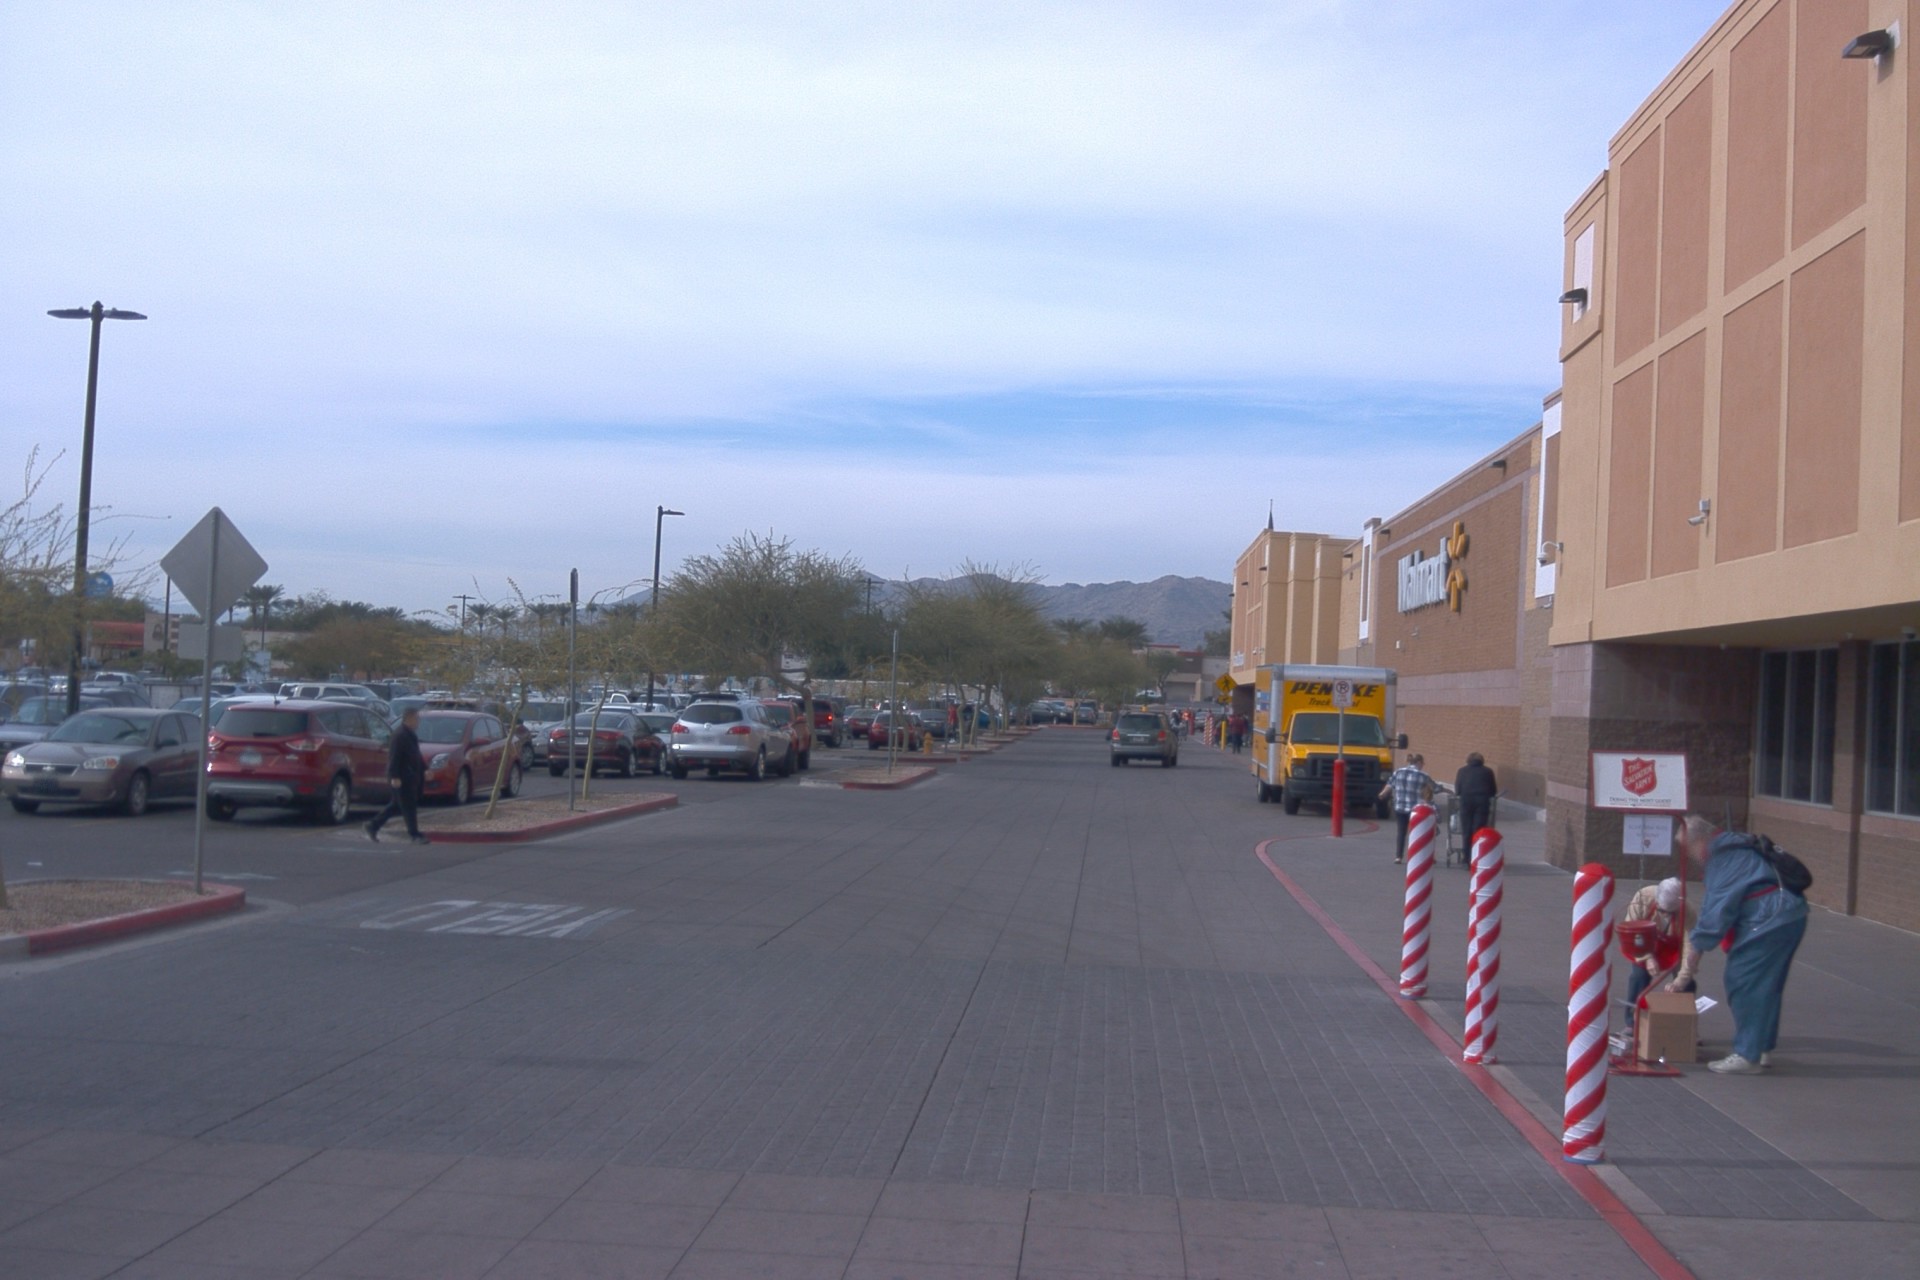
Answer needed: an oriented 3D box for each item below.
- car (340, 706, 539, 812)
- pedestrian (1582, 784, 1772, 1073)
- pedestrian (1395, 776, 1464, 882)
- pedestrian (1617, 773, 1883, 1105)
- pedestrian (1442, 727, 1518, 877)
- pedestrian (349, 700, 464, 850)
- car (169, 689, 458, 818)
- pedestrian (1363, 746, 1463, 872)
[{"bbox_3d":[-8.511,1.916,34.476,1.906,1.600,4.184,1,-2,4],"label":"car"},{"bbox_3d":[4.562,1.805,13.343,1.005,1.700,1.026,1,-1,11],"label":"pedestrian"},{"bbox_3d":[6.313,2.523,27.985,0.821,1.330,0.942,1,-2,17],"label":"pedestrian"},{"bbox_3d":[4.744,1.759,12.581,1.117,1.860,1.044,1,-1,-10],"label":"pedestrian"},{"bbox_3d":[6.863,2.115,27.557,0.938,1.900,1.327,1,-2,13],"label":"pedestrian"},{"bbox_3d":[-6.735,1.628,25.405,0.998,1.760,1.002,1,-1,8],"label":"pedestrian"},{"bbox_3d":[-8.977,1.537,29.431,2.115,1.630,4.730,1,-2,7],"label":"car"},{"bbox_3d":[6.233,2.300,28.642,1.121,1.630,1.173,1,-2,22],"label":"pedestrian"}]
